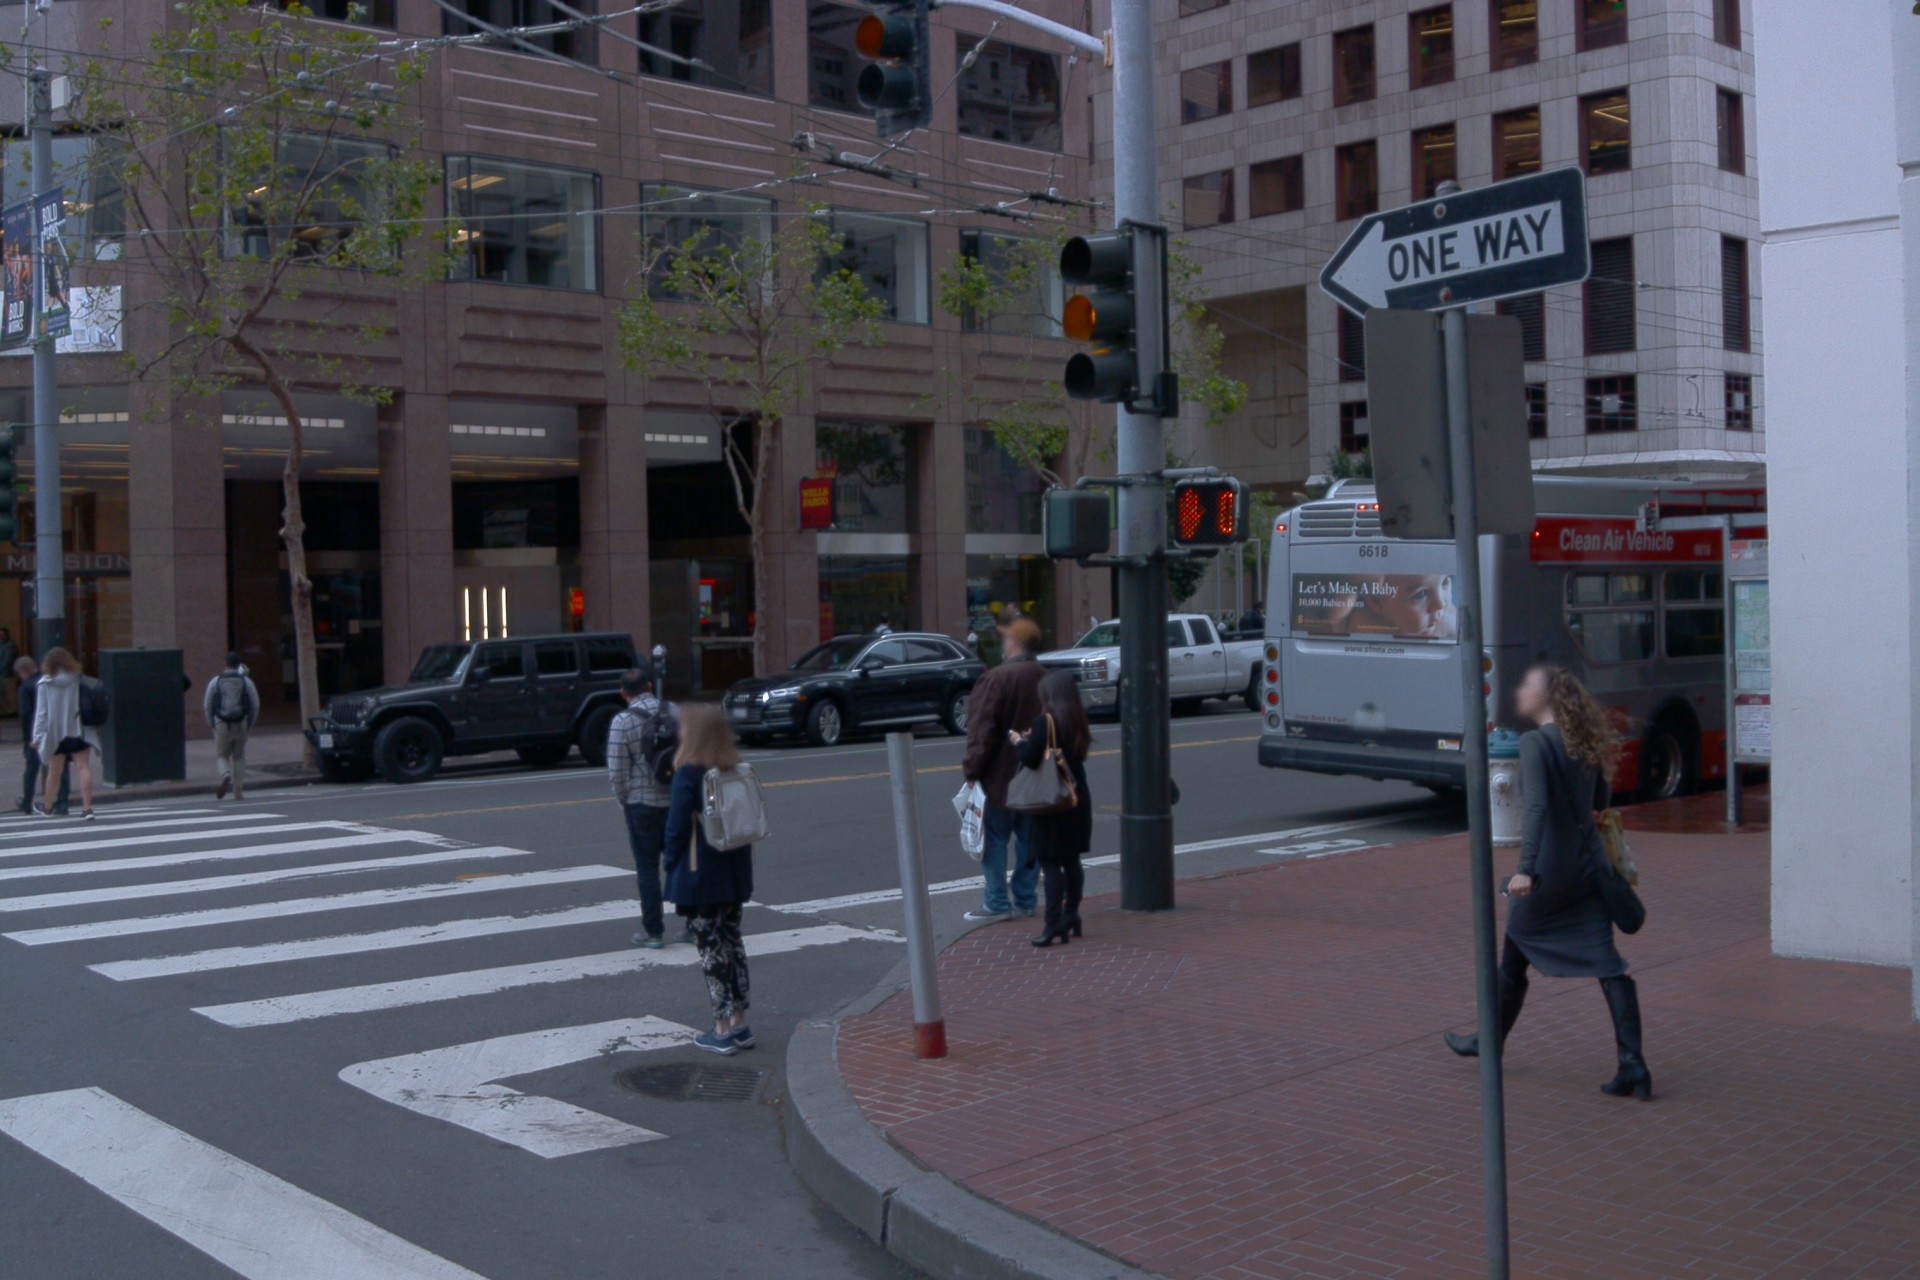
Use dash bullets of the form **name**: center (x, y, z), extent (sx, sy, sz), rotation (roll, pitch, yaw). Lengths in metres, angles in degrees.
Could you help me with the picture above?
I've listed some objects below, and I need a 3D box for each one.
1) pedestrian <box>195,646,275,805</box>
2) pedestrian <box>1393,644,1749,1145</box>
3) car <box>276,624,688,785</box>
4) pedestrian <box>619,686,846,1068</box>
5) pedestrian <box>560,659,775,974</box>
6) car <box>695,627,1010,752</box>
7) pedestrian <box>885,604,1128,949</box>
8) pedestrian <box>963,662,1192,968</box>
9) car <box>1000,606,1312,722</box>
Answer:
- **pedestrian**: center (-8.390, 0.969, 23.781), extent (0.779, 1.775, 1.055), rotation (0, 0, -24)
- **pedestrian**: center (2.301, 0.885, 7.787), extent (0.841, 1.726, 0.975), rotation (0, 0, -36)
- **car**: center (-6.321, 0.765, 27.579), extent (4.963, 1.950, 2.149), rotation (-1, 1, -43)
- **pedestrian**: center (-1.132, 1.107, 10.099), extent (0.749, 1.726, 0.990), rotation (0, 0, -32)
- **pedestrian**: center (-1.796, 1.033, 12.631), extent (1.066, 1.816, 0.777), rotation (0, 0, 37)
- **car**: center (-1.599, 0.699, 31.758), extent (4.539, 1.770, 2.126), rotation (-1, 1, -43)
- **pedestrian**: center (0.274, 0.773, 12.501), extent (0.950, 1.968, 1.152), rotation (0, 0, -39)
- **pedestrian**: center (0.656, 0.941, 11.615), extent (0.869, 1.606, 0.971), rotation (0, 0, -35)
- **car**: center (3.573, 0.359, 36.564), extent (2.385, 1.890, 5.778), rotation (0, 1, 45)
